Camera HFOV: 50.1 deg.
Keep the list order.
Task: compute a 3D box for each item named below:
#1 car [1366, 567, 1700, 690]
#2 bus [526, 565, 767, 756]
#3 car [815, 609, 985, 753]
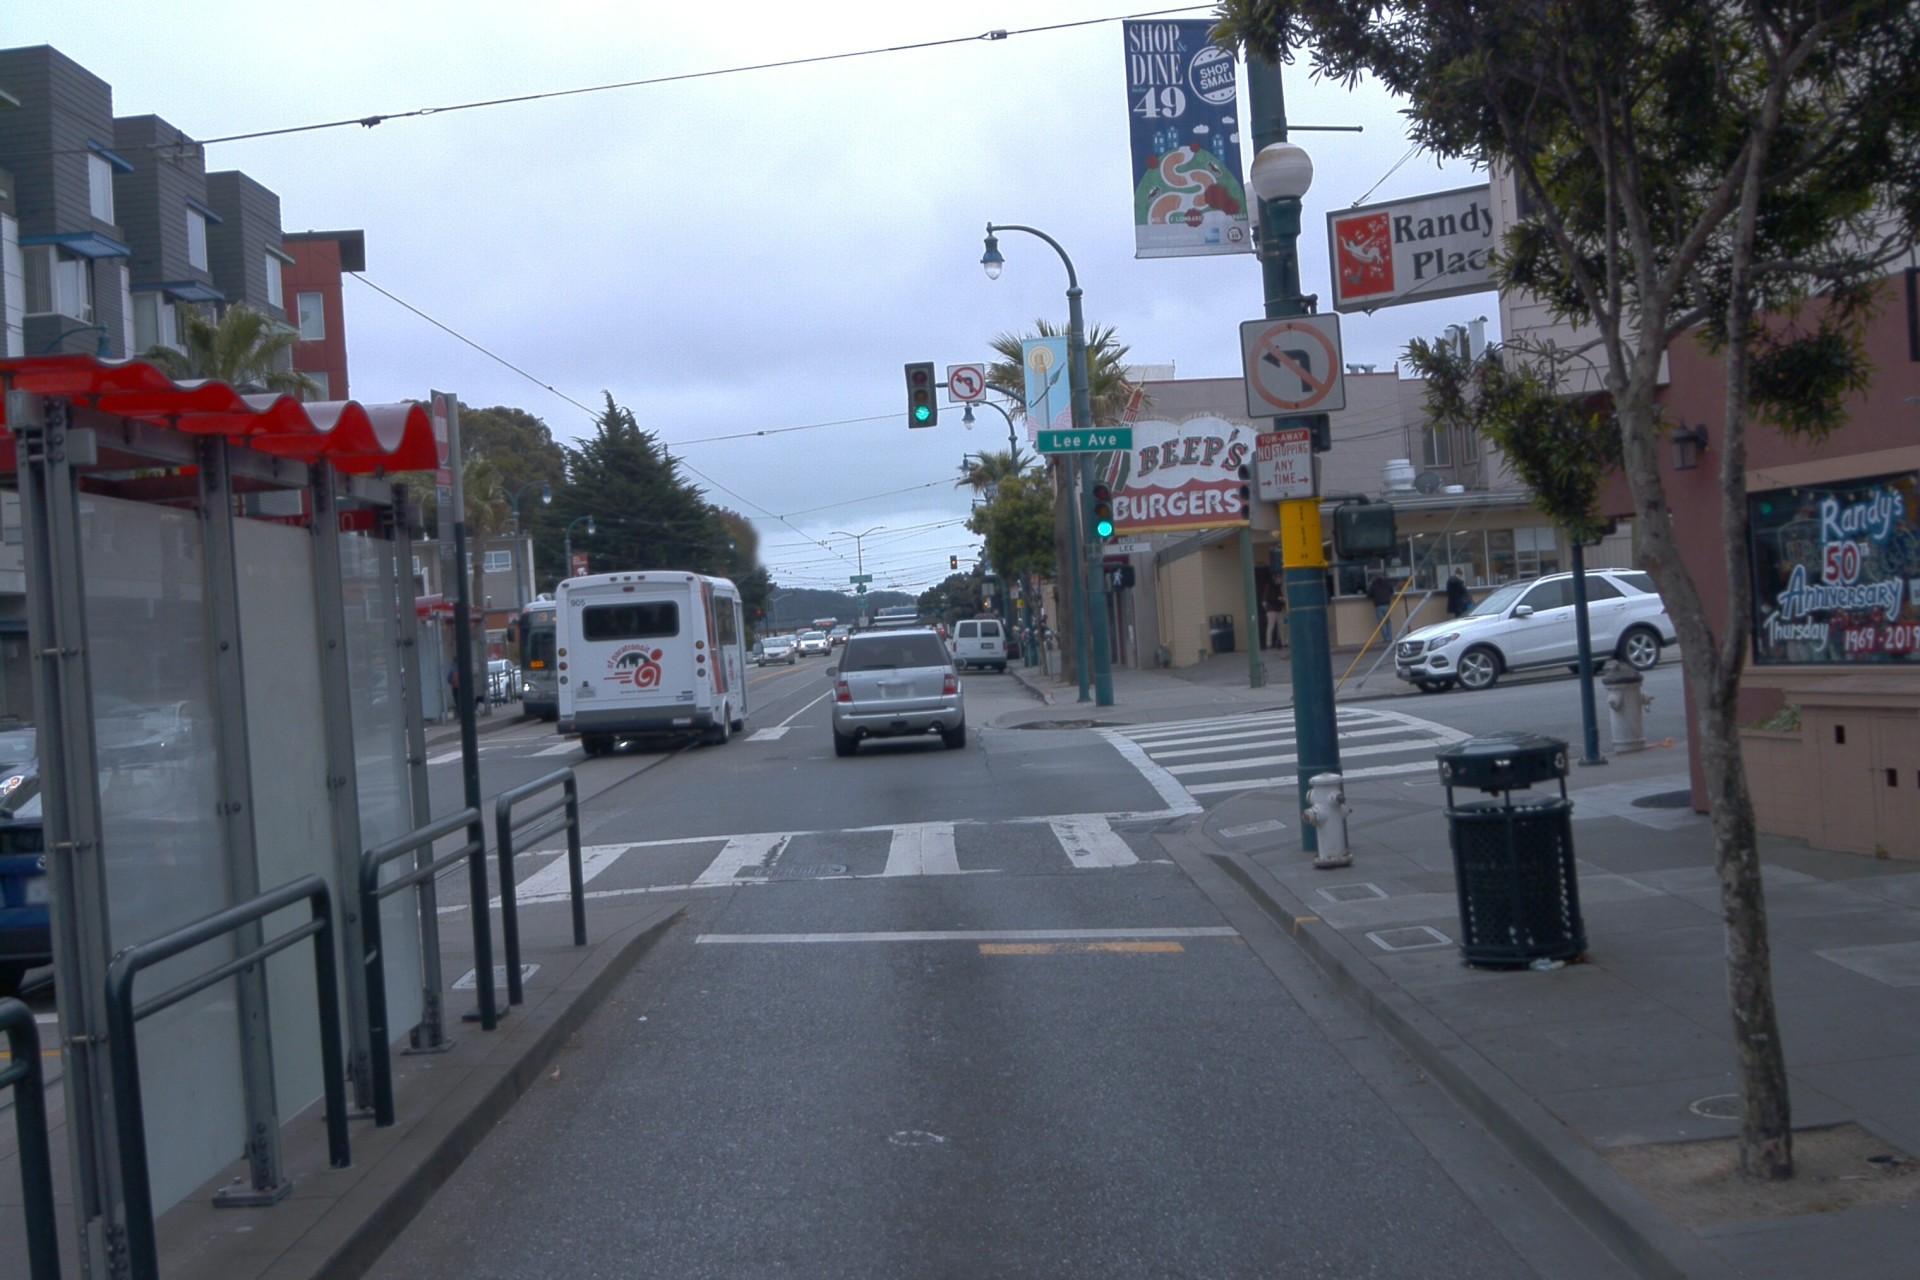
[{"bbox_3d":[9.591,-0.223,34.561,4.906,1.960,2.242,-1,1,-14],"label":"car"},{"bbox_3d":[-5.341,0.275,36.316,3.022,3.040,6.906,0,1,2],"label":"bus"},{"bbox_3d":[-0.867,0.533,30.067,2.302,1.940,4.182,0,1,-1],"label":"car"}]
